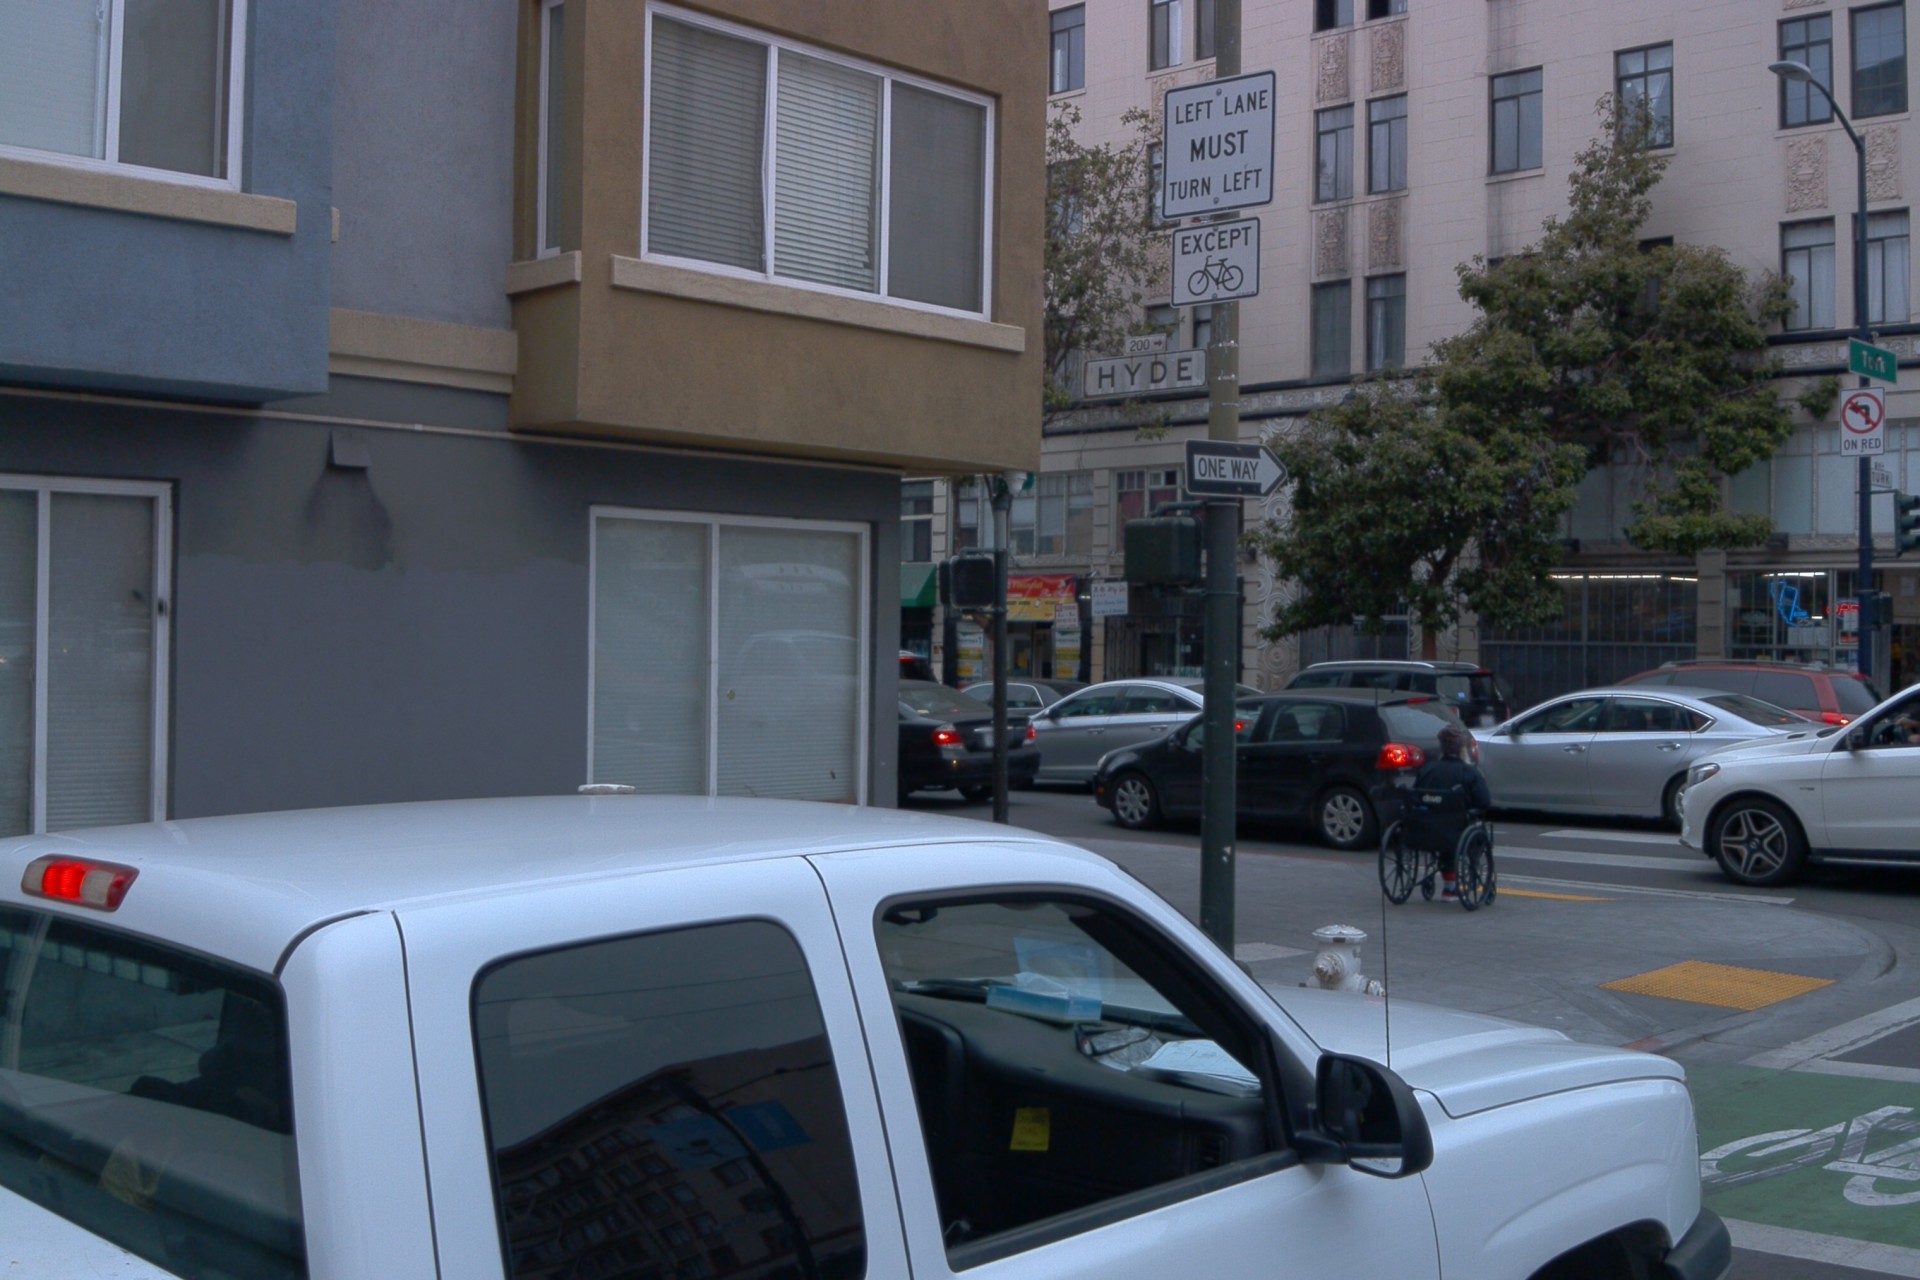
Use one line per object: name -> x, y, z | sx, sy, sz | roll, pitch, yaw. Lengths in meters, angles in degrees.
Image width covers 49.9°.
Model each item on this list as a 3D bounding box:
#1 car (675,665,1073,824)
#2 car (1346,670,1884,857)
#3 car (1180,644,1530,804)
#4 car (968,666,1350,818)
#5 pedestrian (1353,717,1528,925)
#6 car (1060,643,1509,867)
car -> -1.133, 1.183, 25.080 | 4.803, 1.600, 2.070 | 1, 1, 43
car -> 6.652, 1.169, 21.388 | 4.909, 1.550, 2.056 | 1, 1, 45
car -> 5.173, 1.036, 27.408 | 1.925, 1.870, 4.231 | -1, 1, -44
car -> 2.404, 1.193, 25.850 | 1.939, 1.600, 4.599 | -1, 1, -44
pedestrian -> 3.503, 1.285, 15.017 | 0.883, 1.370, 1.026 | 1, 1, 38
car -> 3.189, 1.052, 20.876 | 1.871, 1.950, 4.194 | -1, 1, -45
